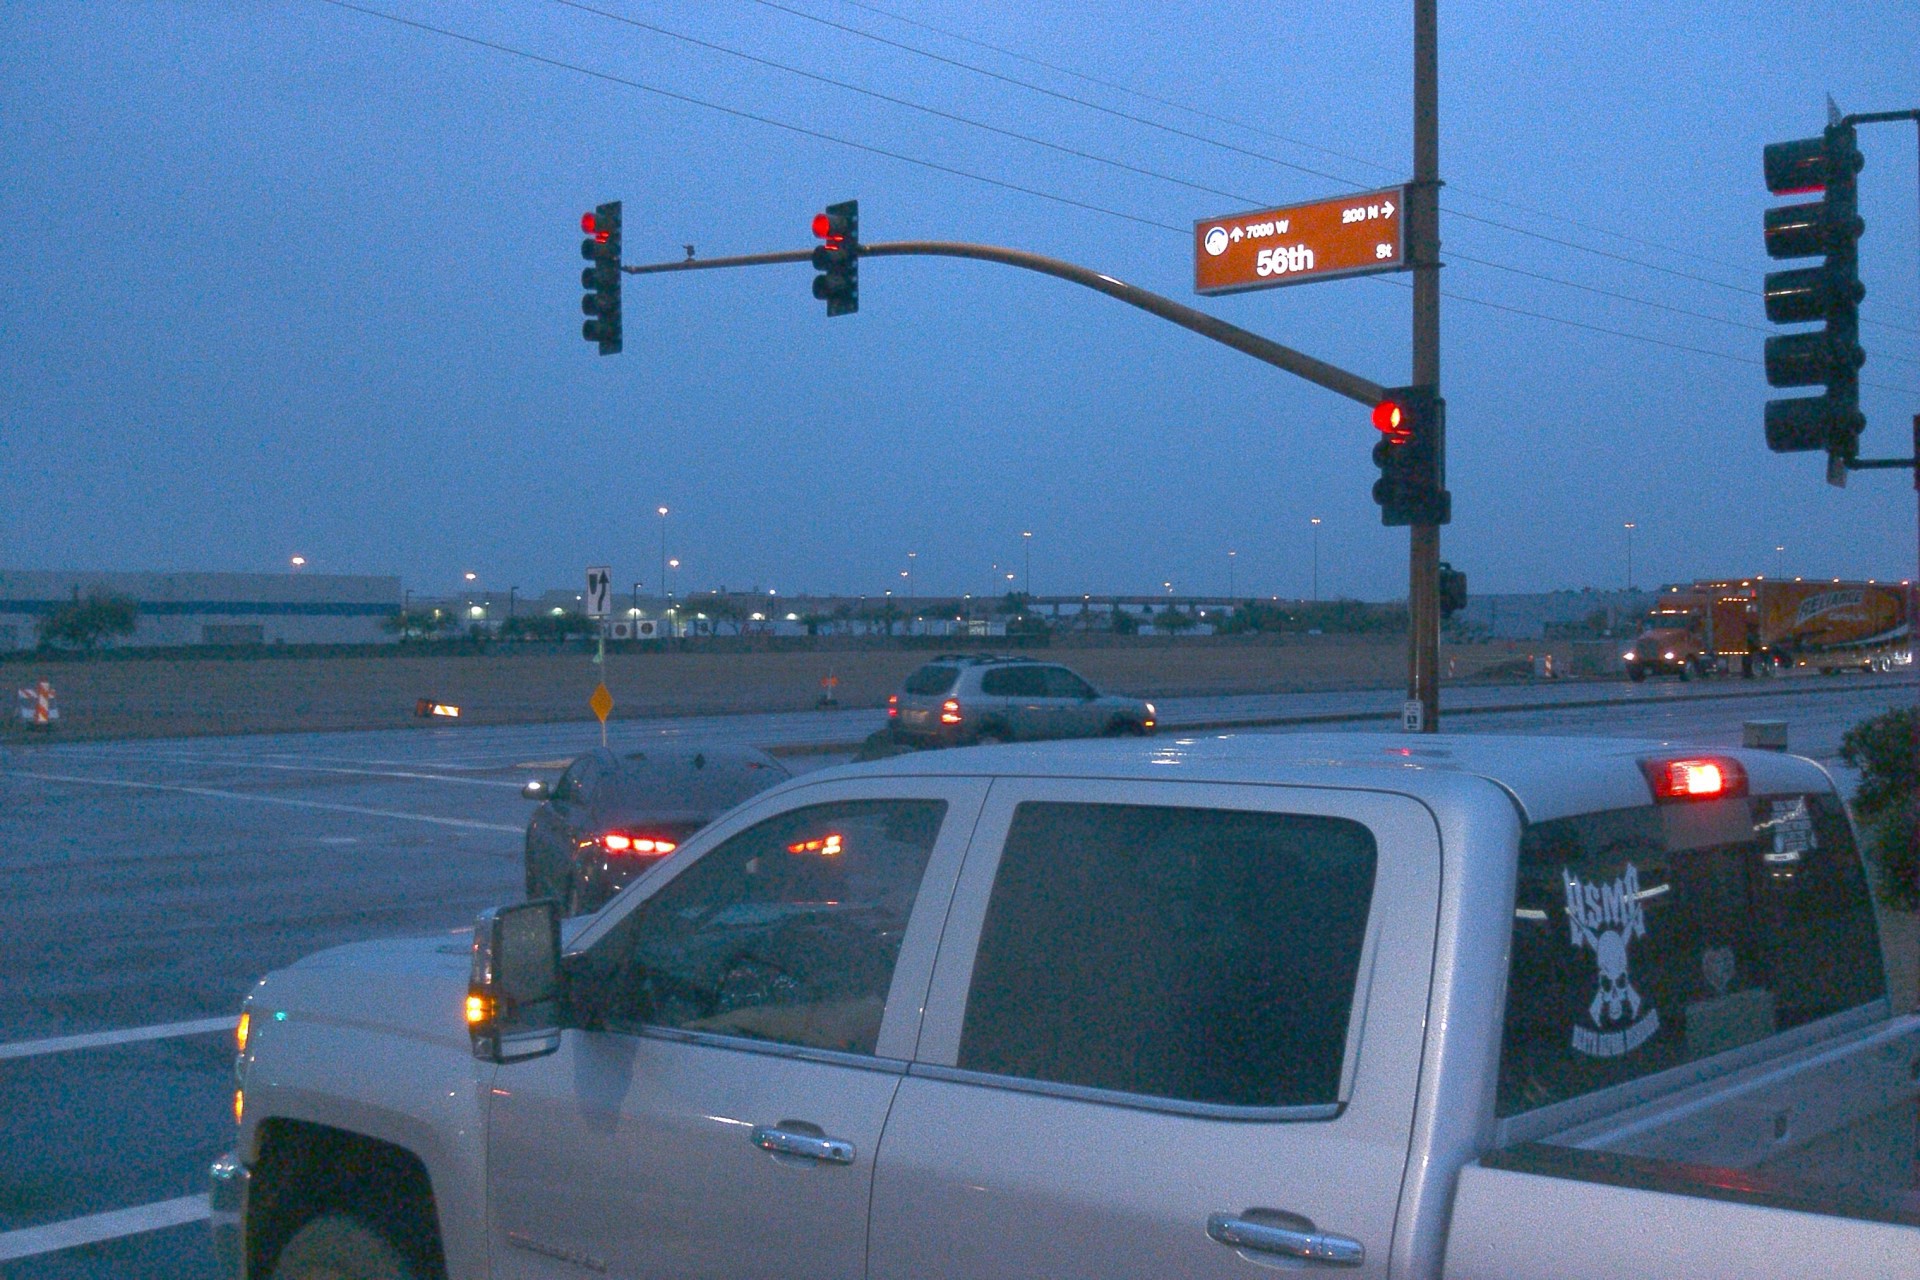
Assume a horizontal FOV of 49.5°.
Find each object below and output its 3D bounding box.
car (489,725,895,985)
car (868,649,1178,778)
[{"bbox_3d":[-2.124,1.406,15.129,2.115,1.430,4.538,0,-1,-18],"label":"car"},{"bbox_3d":[0.980,1.060,31.440,4.302,1.810,2.076,0,0,-37],"label":"car"}]
